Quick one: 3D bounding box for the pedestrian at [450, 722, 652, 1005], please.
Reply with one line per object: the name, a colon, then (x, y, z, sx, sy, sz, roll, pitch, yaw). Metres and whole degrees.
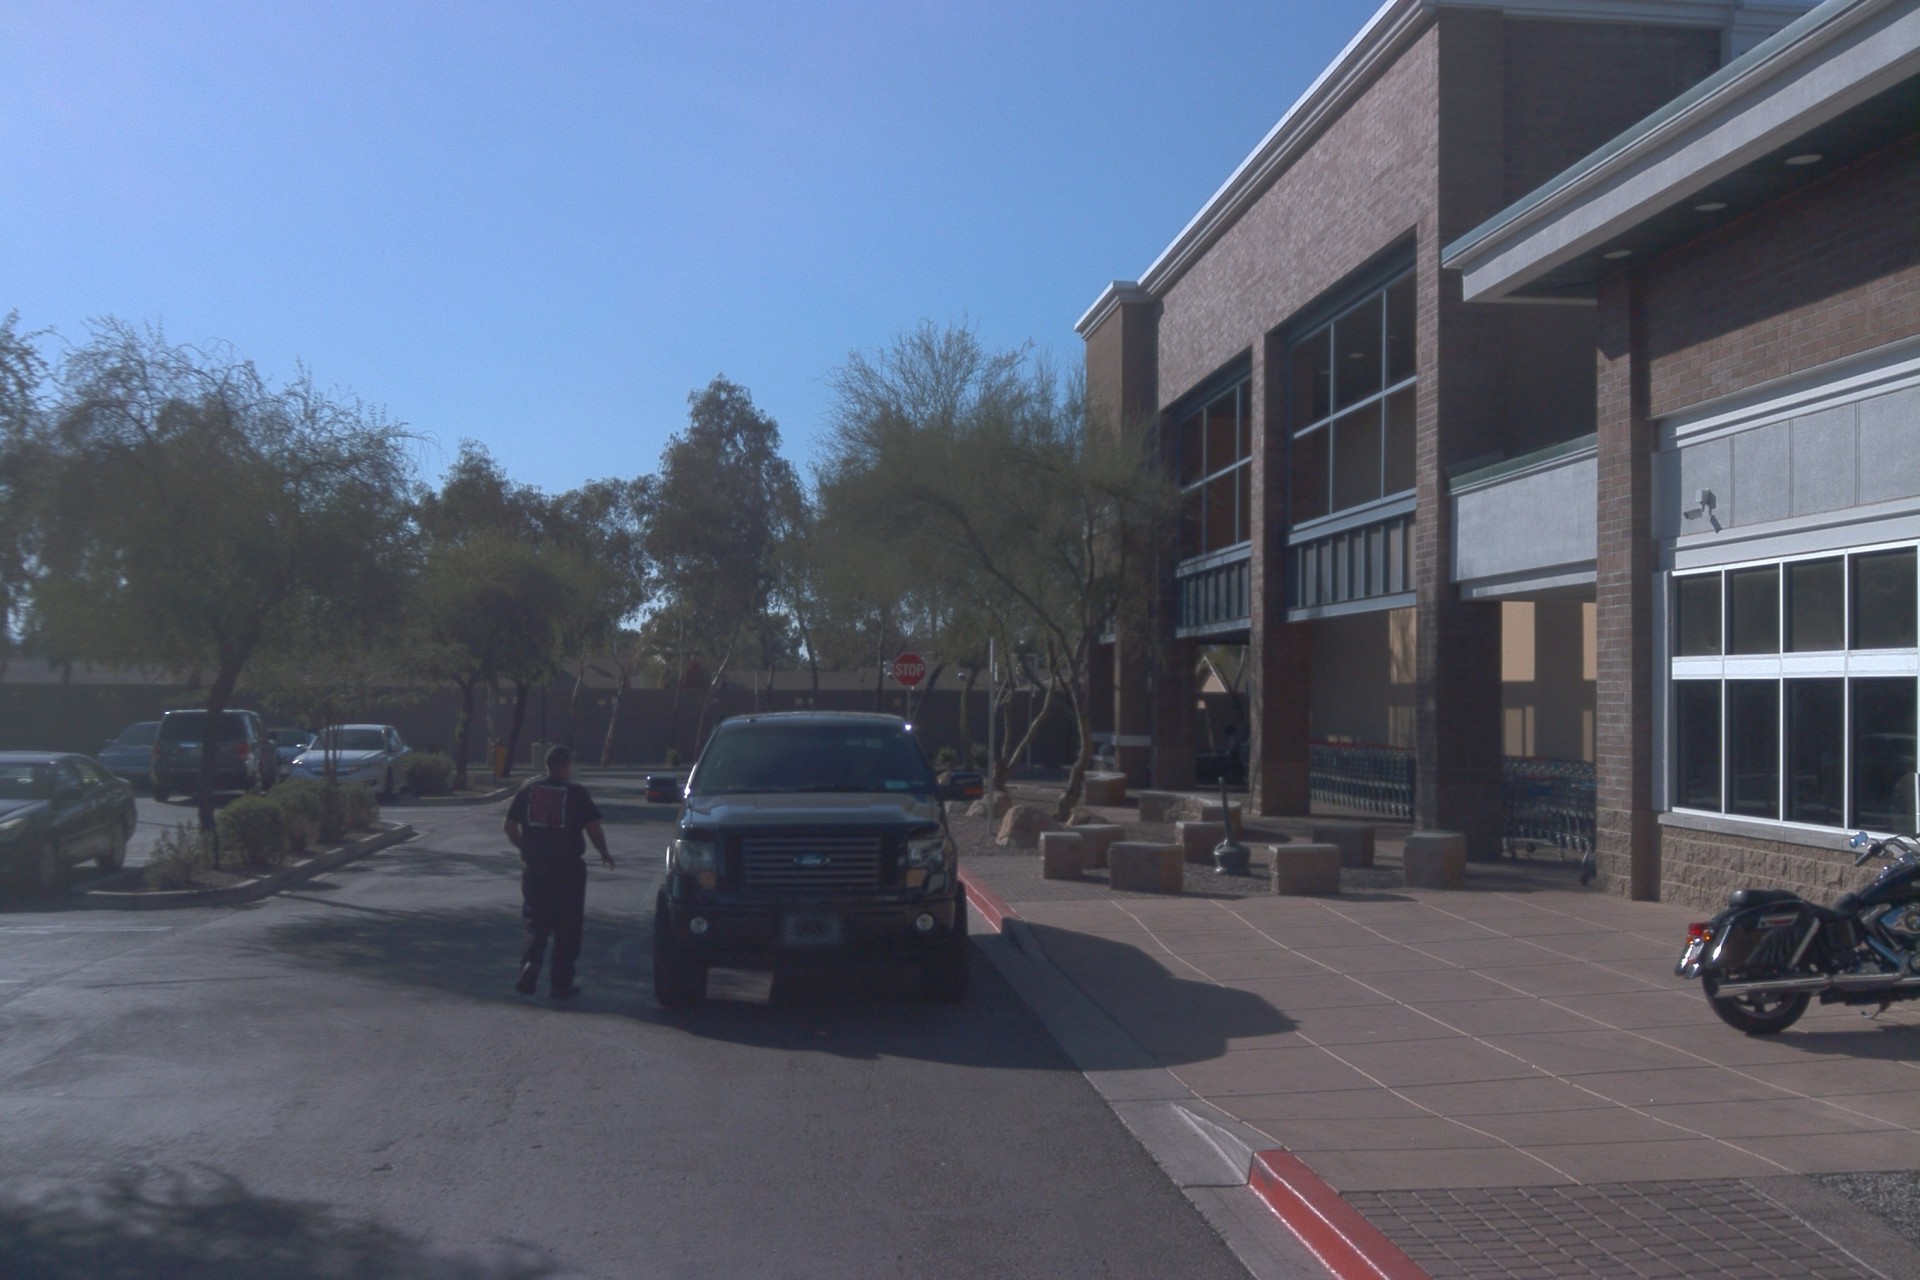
pedestrian: (-2.839, 1.523, 14.531, 1.077, 1.870, 1.182, -1, -1, 6)

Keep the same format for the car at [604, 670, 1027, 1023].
car: (-1.167, 1.363, 15.926, 2.651, 2.190, 5.671, 0, -1, -5)
